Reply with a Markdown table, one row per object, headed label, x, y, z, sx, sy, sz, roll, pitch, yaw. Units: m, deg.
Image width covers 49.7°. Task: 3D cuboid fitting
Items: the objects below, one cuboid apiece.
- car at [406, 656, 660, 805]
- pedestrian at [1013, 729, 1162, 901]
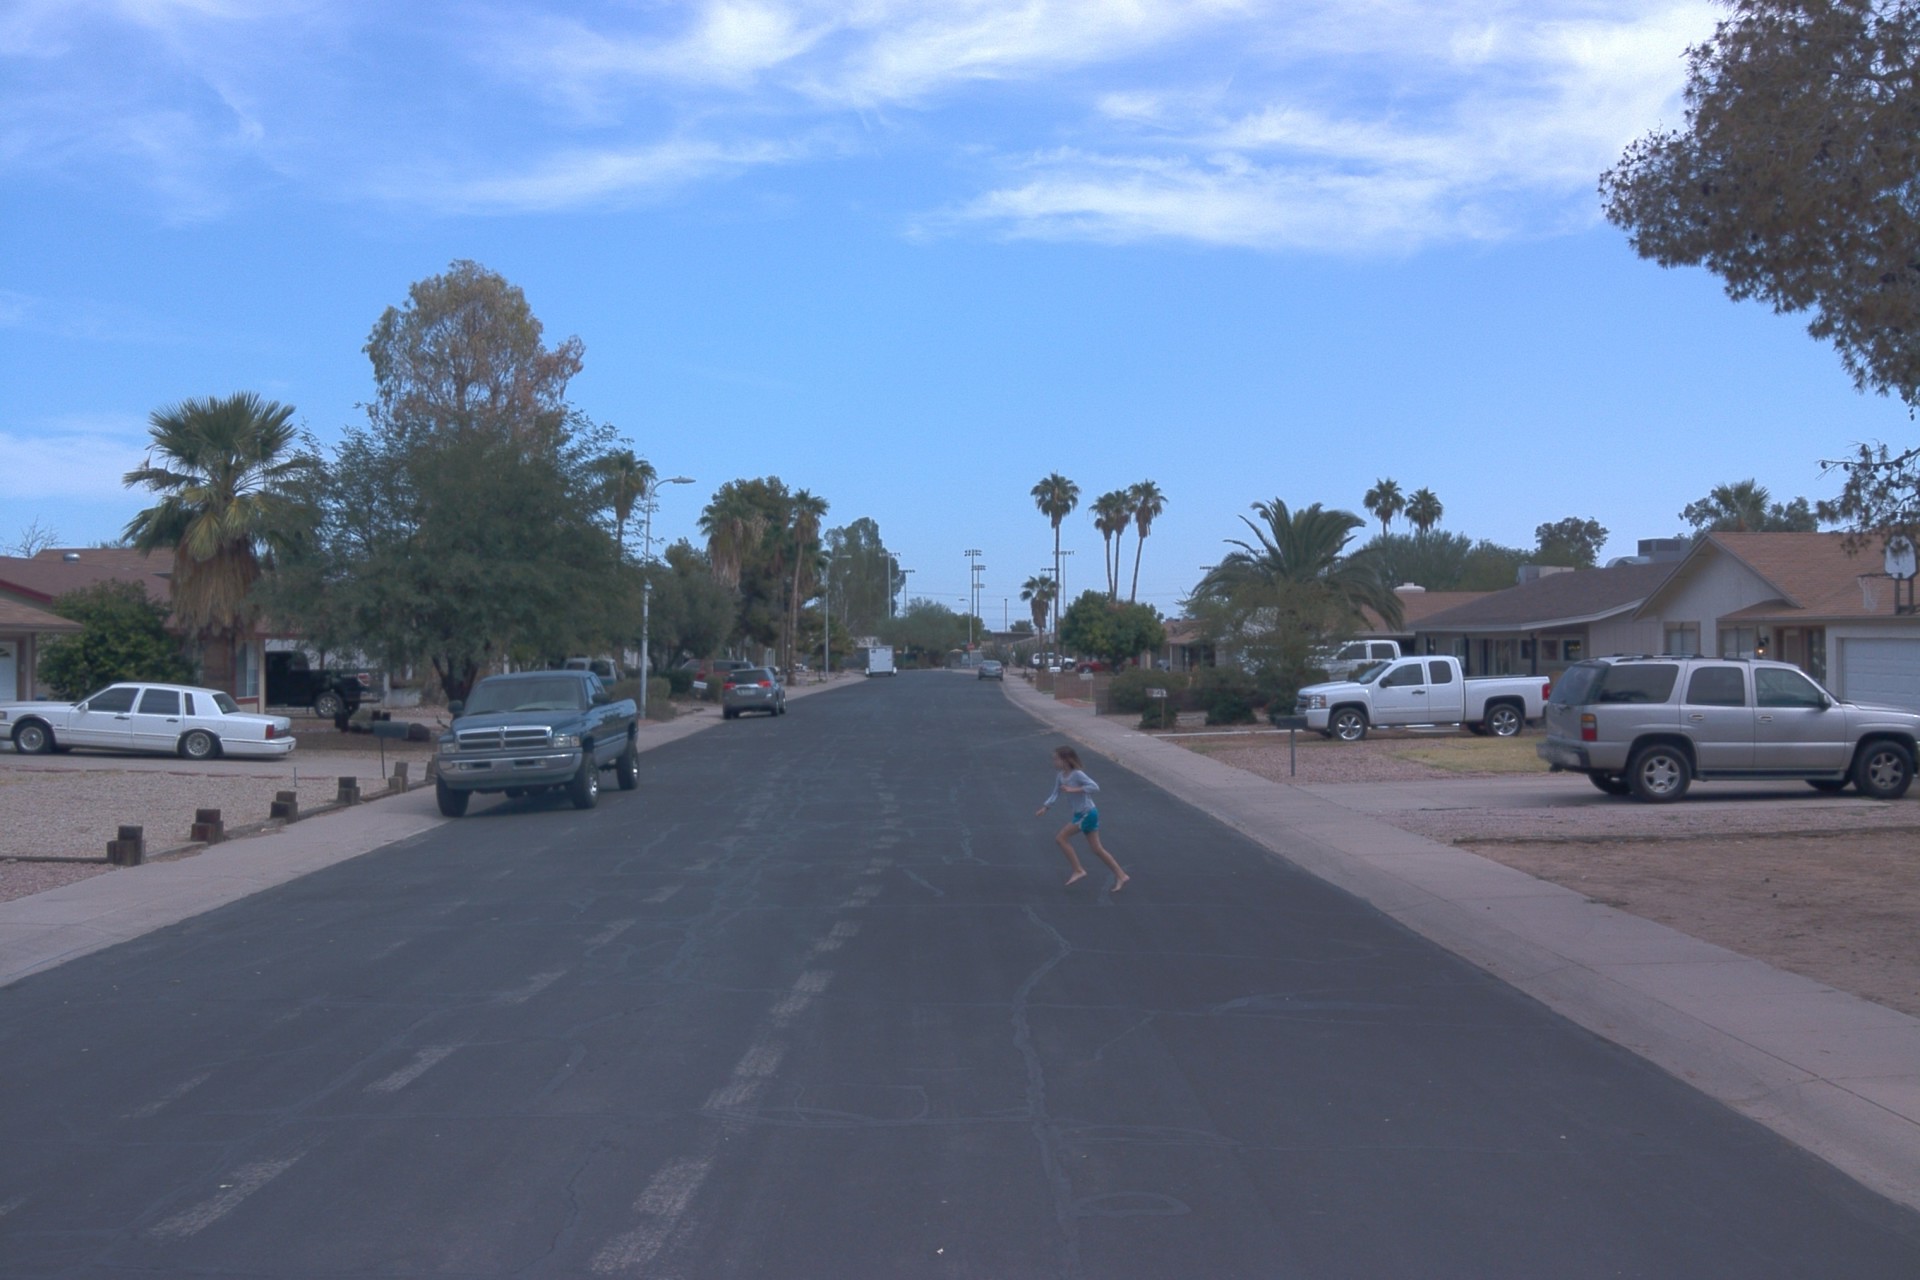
| label | x | y | z | sx | sy | sz | roll | pitch | yaw |
| --- | --- | --- | --- | --- | --- | --- | --- | --- | --- |
| car | -6.171 | 1.242 | 30.840 | 2.460 | 1.980 | 6.208 | 0 | -1 | 0 |
| pedestrian | 1.100 | 1.508 | 18.057 | 1.131 | 1.420 | 0.948 | 1 | 0 | -7 |
